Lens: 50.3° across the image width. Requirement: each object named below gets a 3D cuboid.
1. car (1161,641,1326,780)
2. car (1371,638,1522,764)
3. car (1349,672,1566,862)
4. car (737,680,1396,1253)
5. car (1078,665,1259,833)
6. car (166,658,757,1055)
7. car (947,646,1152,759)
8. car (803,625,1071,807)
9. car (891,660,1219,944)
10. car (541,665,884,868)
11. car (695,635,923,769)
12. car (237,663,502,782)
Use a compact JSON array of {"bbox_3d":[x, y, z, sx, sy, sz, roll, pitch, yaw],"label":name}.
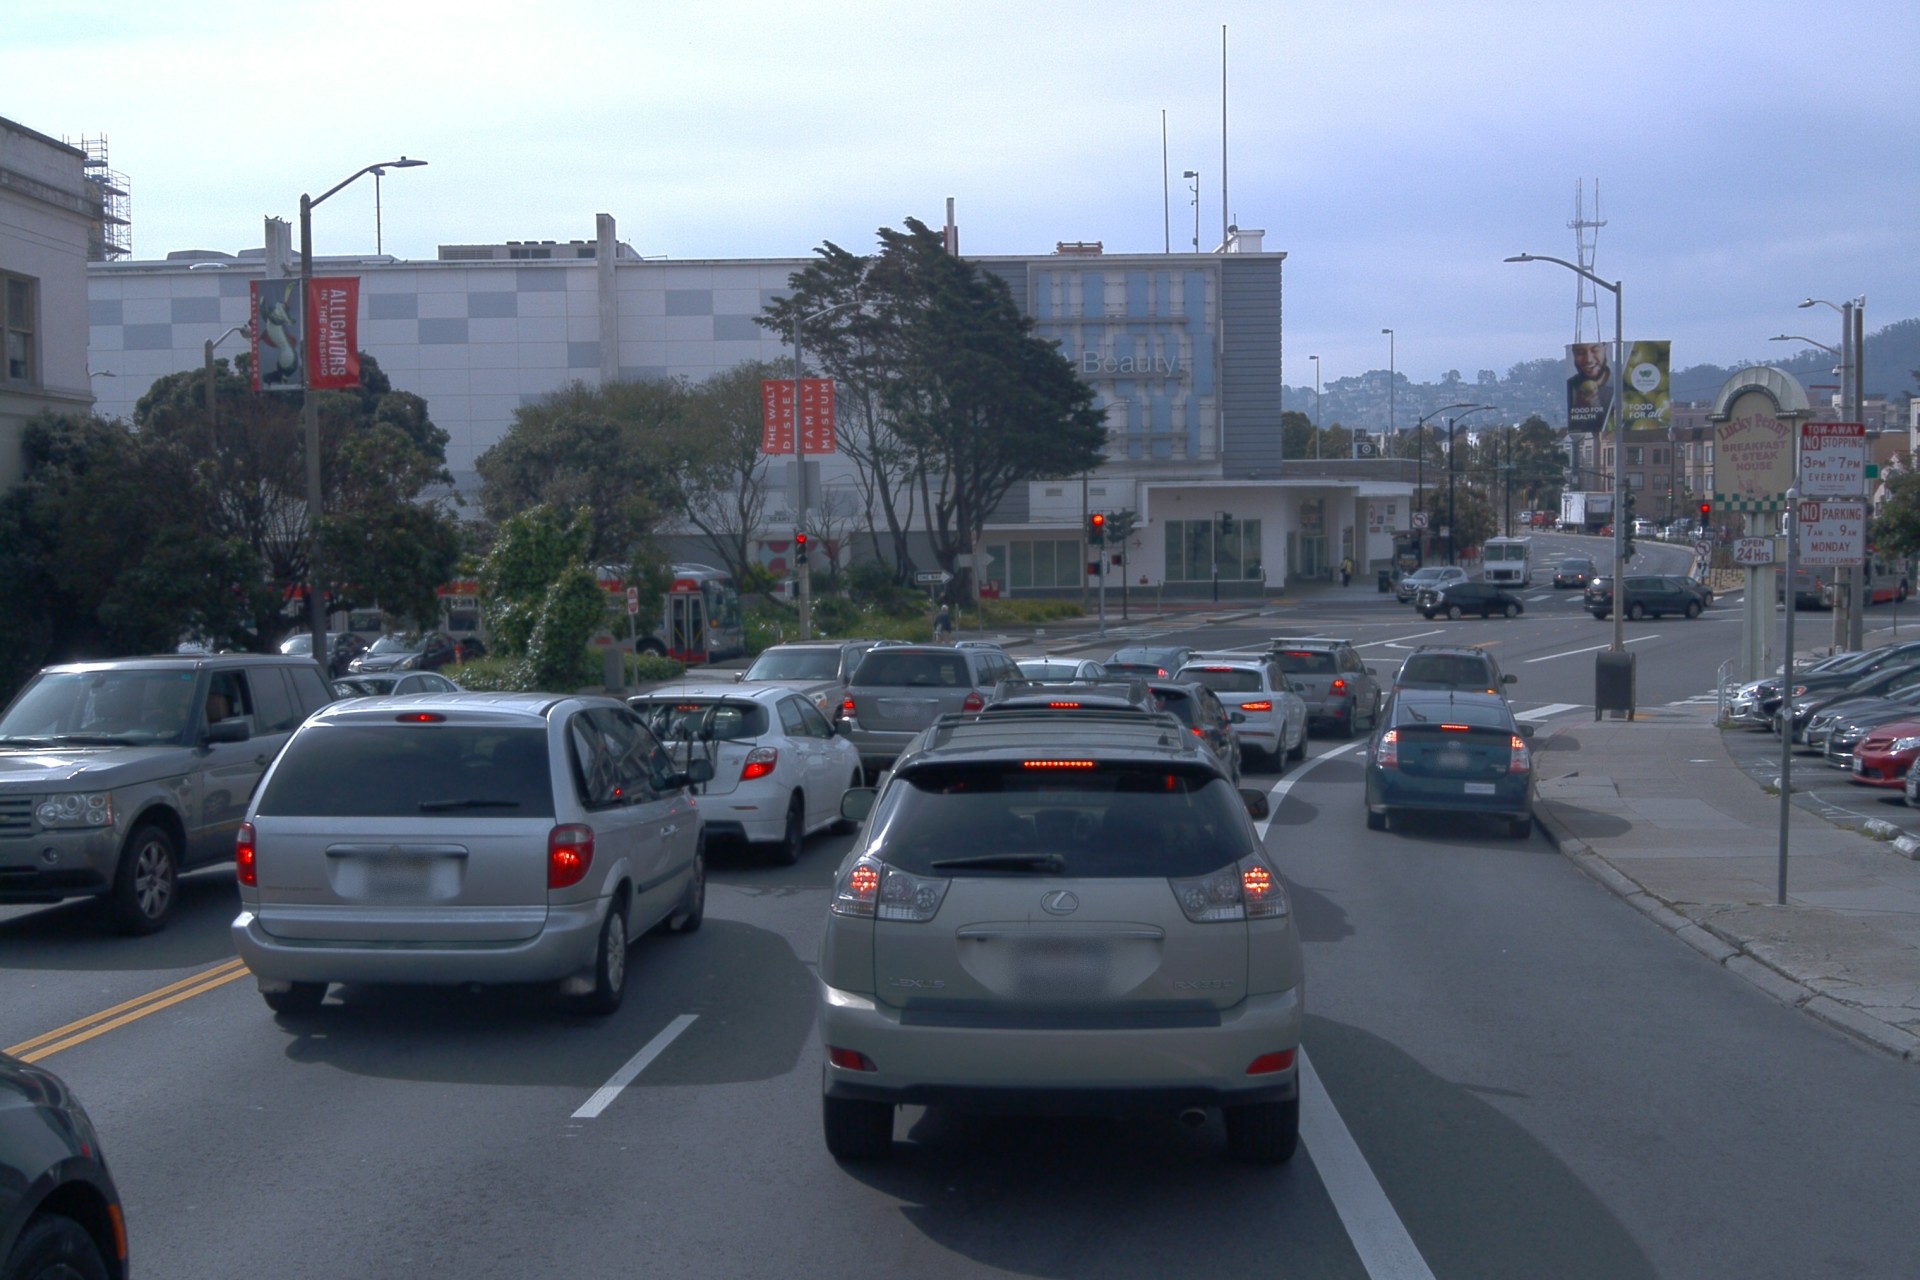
[{"bbox_3d":[4.251,0.967,30.214,1.795,1.880,4.044,1,0,17],"label":"car"},{"bbox_3d":[8.633,0.991,36.005,2.203,2.020,4.801,1,0,18],"label":"car"},{"bbox_3d":[5.436,1.304,22.882,2.113,1.790,4.646,1,0,11],"label":"car"},{"bbox_3d":[0.424,1.135,9.101,2.197,1.780,4.467,1,0,2],"label":"car"},{"bbox_3d":[2.586,1.224,24.651,1.526,1.780,3.939,1,0,15],"label":"car"},{"bbox_3d":[-2.660,1.061,12.231,2.131,1.830,4.635,1,0,4],"label":"car"},{"bbox_3d":[1.568,0.963,33.705,2.220,1.670,4.643,1,0,18],"label":"car"},{"bbox_3d":[-0.166,0.880,26.474,2.236,2.100,4.827,1,0,15],"label":"car"},{"bbox_3d":[0.922,1.140,16.426,2.119,1.870,4.391,1,0,9],"label":"car"},{"bbox_3d":[-2.089,1.043,18.641,1.982,1.530,4.306,1,0,9],"label":"car"},{"bbox_3d":[-2.305,0.903,32.665,2.245,1.960,4.665,1,0,15],"label":"car"},{"bbox_3d":[-9.168,1.228,32.206,1.977,1.640,4.663,1,0,13],"label":"car"}]
